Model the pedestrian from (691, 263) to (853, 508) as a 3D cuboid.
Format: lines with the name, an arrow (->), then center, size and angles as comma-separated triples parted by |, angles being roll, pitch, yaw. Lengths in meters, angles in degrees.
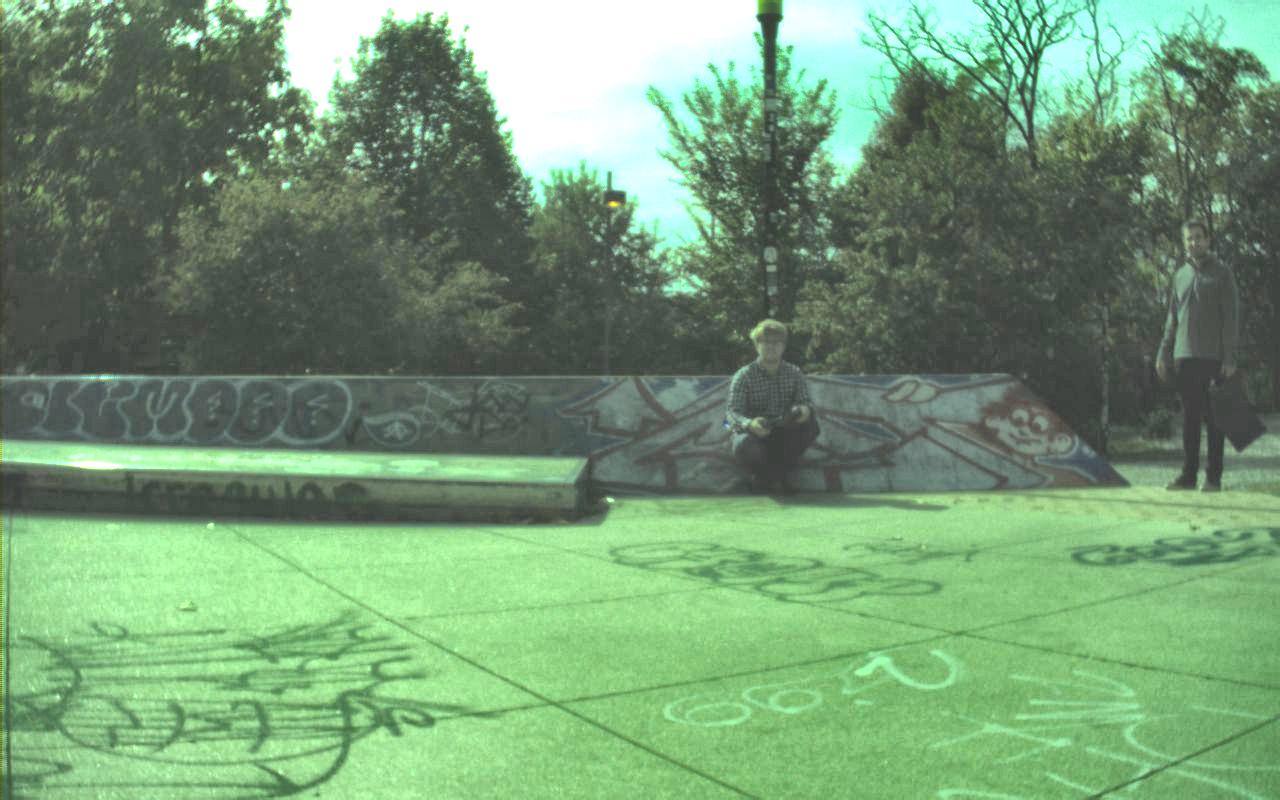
pedestrian -> 0.826, -0.094, 8.039 | 0.878, 1.478, 0.840 | 0, 0, -6

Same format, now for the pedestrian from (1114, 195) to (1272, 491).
pedestrian -> 3.568, -0.342, 7.432 | 0.803, 1.780, 0.814 | 0, 0, -37
